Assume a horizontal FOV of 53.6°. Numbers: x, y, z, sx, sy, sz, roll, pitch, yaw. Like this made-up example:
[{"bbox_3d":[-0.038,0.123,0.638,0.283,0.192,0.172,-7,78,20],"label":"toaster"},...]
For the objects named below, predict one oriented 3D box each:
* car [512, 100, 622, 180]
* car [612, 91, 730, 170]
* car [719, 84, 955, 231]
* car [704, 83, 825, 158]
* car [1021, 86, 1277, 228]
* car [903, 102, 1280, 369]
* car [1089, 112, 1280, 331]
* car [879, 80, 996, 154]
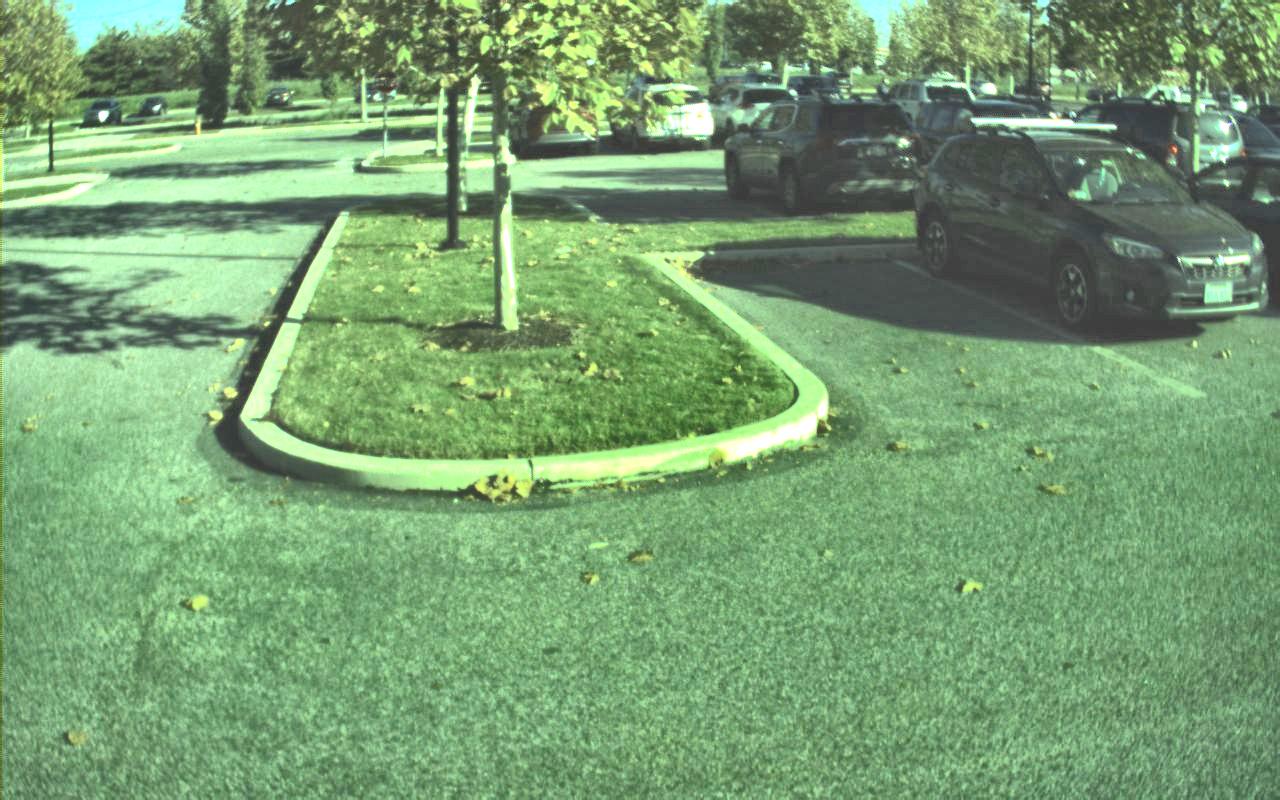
[{"bbox_3d":[-1.971,-6.738,31.992,1.956,1.631,4.456,-5,17,-14],"label":"car"},{"bbox_3d":[0.729,-7.143,32.721,2.009,1.694,4.648,-5,17,-12],"label":"car"},{"bbox_3d":[2.866,-3.873,19.046,2.046,1.747,4.870,-4,17,-11],"label":"car"},{"bbox_3d":[3.259,-7.559,33.328,1.973,1.672,4.498,-4,17,-12],"label":"car"},{"bbox_3d":[8.229,-4.041,19.052,2.028,1.745,4.635,-5,17,-14],"label":"car"},{"bbox_3d":[4.237,-1.754,11.161,1.952,1.704,4.544,-4,17,-11],"label":"car"},{"bbox_3d":[6.733,-2.047,12.116,1.947,1.576,4.405,-4,17,-11],"label":"car"},{"bbox_3d":[8.328,-8.047,34.421,2.020,1.739,4.664,-2,17,-5],"label":"car"}]
